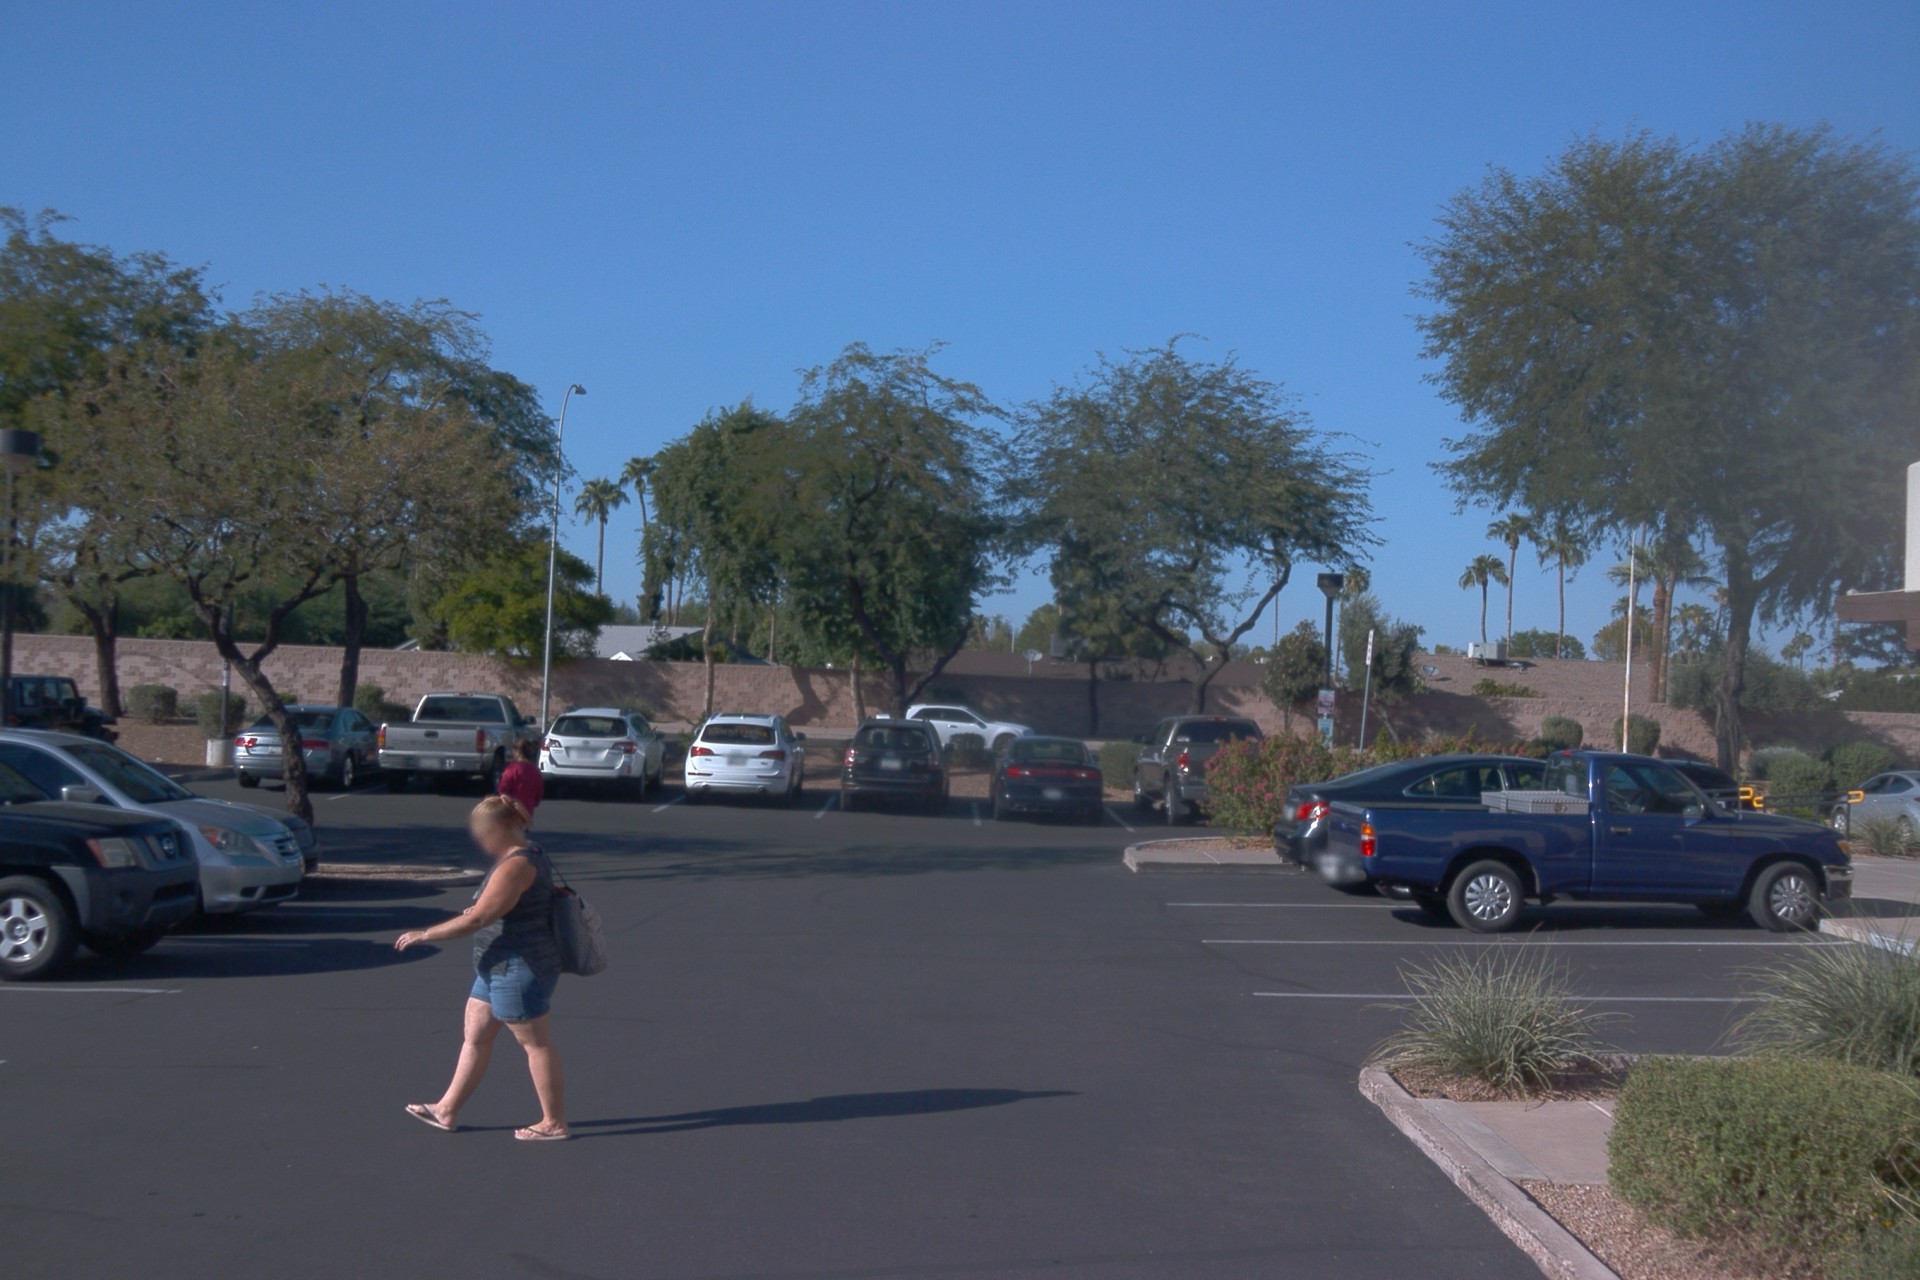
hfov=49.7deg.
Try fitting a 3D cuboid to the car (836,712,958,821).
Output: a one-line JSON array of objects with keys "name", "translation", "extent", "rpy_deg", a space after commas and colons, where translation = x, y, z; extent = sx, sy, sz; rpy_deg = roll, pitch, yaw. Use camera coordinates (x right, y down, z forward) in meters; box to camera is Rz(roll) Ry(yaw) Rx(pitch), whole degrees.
[{"name": "car", "translation": [-1.091, 2.259, 37.971], "extent": [2.055, 1.790, 4.106], "rpy_deg": [1, -1, 1]}]

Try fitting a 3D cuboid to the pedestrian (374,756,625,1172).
[{"name": "pedestrian", "translation": [-2.061, 1.425, 9.415], "extent": [0.963, 1.750, 0.926], "rpy_deg": [1, -1, -4]}]

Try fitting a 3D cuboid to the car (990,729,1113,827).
[{"name": "car", "translation": [1.599, 2.460, 37.676], "extent": [2.065, 1.540, 4.526], "rpy_deg": [1, -1, 1]}]

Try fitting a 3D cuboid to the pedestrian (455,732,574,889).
[{"name": "pedestrian", "translation": [-5.027, 1.899, 23.373], "extent": [0.982, 1.680, 1.039], "rpy_deg": [1, -1, -32]}]

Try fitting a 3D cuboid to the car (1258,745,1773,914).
[{"name": "car", "translation": [5.673, 1.934, 21.585], "extent": [4.780, 1.570, 2.041], "rpy_deg": [1, -1, -2]}]

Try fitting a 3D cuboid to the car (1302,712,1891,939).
[{"name": "car", "translation": [5.640, 1.632, 18.824], "extent": [4.685, 1.860, 2.091], "rpy_deg": [1, -1, -2]}]

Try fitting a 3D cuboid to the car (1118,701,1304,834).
[{"name": "car", "translation": [4.479, 2.248, 37.994], "extent": [2.293, 2.160, 5.703], "rpy_deg": [1, -1, -4]}]
